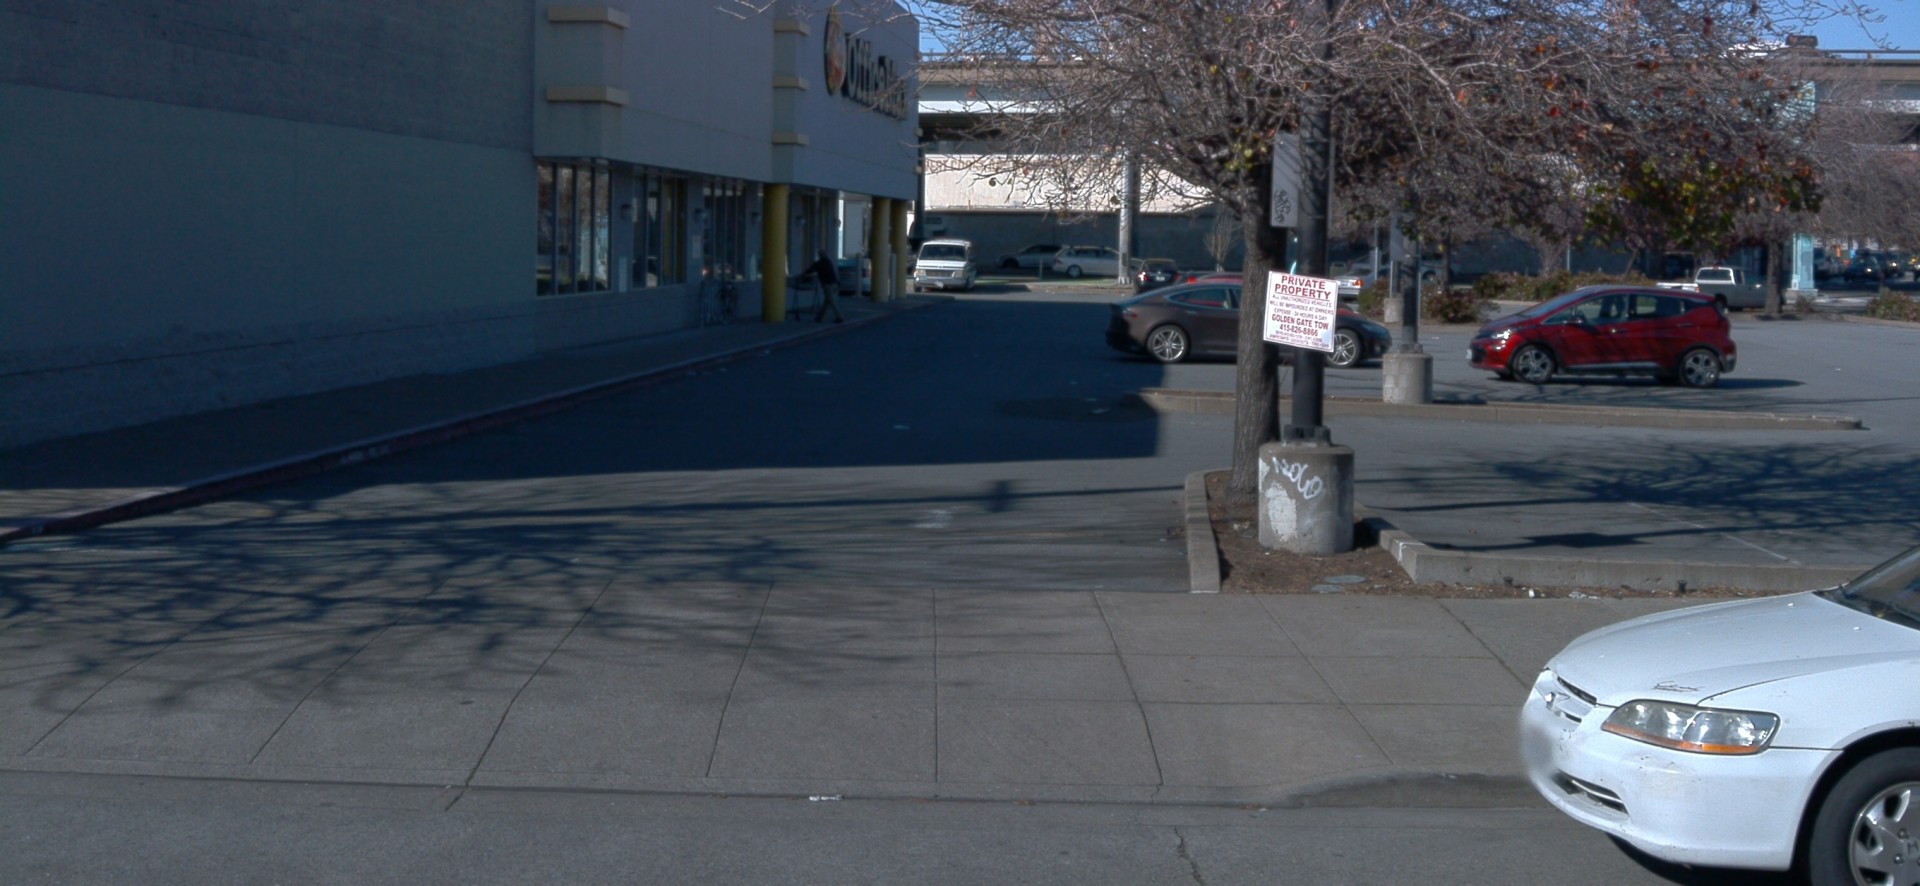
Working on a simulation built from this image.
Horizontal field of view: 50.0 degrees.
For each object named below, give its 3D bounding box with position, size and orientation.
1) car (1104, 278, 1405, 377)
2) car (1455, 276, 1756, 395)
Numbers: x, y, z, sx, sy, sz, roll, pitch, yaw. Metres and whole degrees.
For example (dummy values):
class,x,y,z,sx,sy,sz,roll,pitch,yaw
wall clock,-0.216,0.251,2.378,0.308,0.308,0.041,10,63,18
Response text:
class,x,y,z,sx,sy,sz,roll,pitch,yaw
car,5.060,-2.039,35.897,5.044,1.525,1.995,1,4,5
car,10.199,-1.742,32.757,4.156,1.695,2.038,1,4,2
